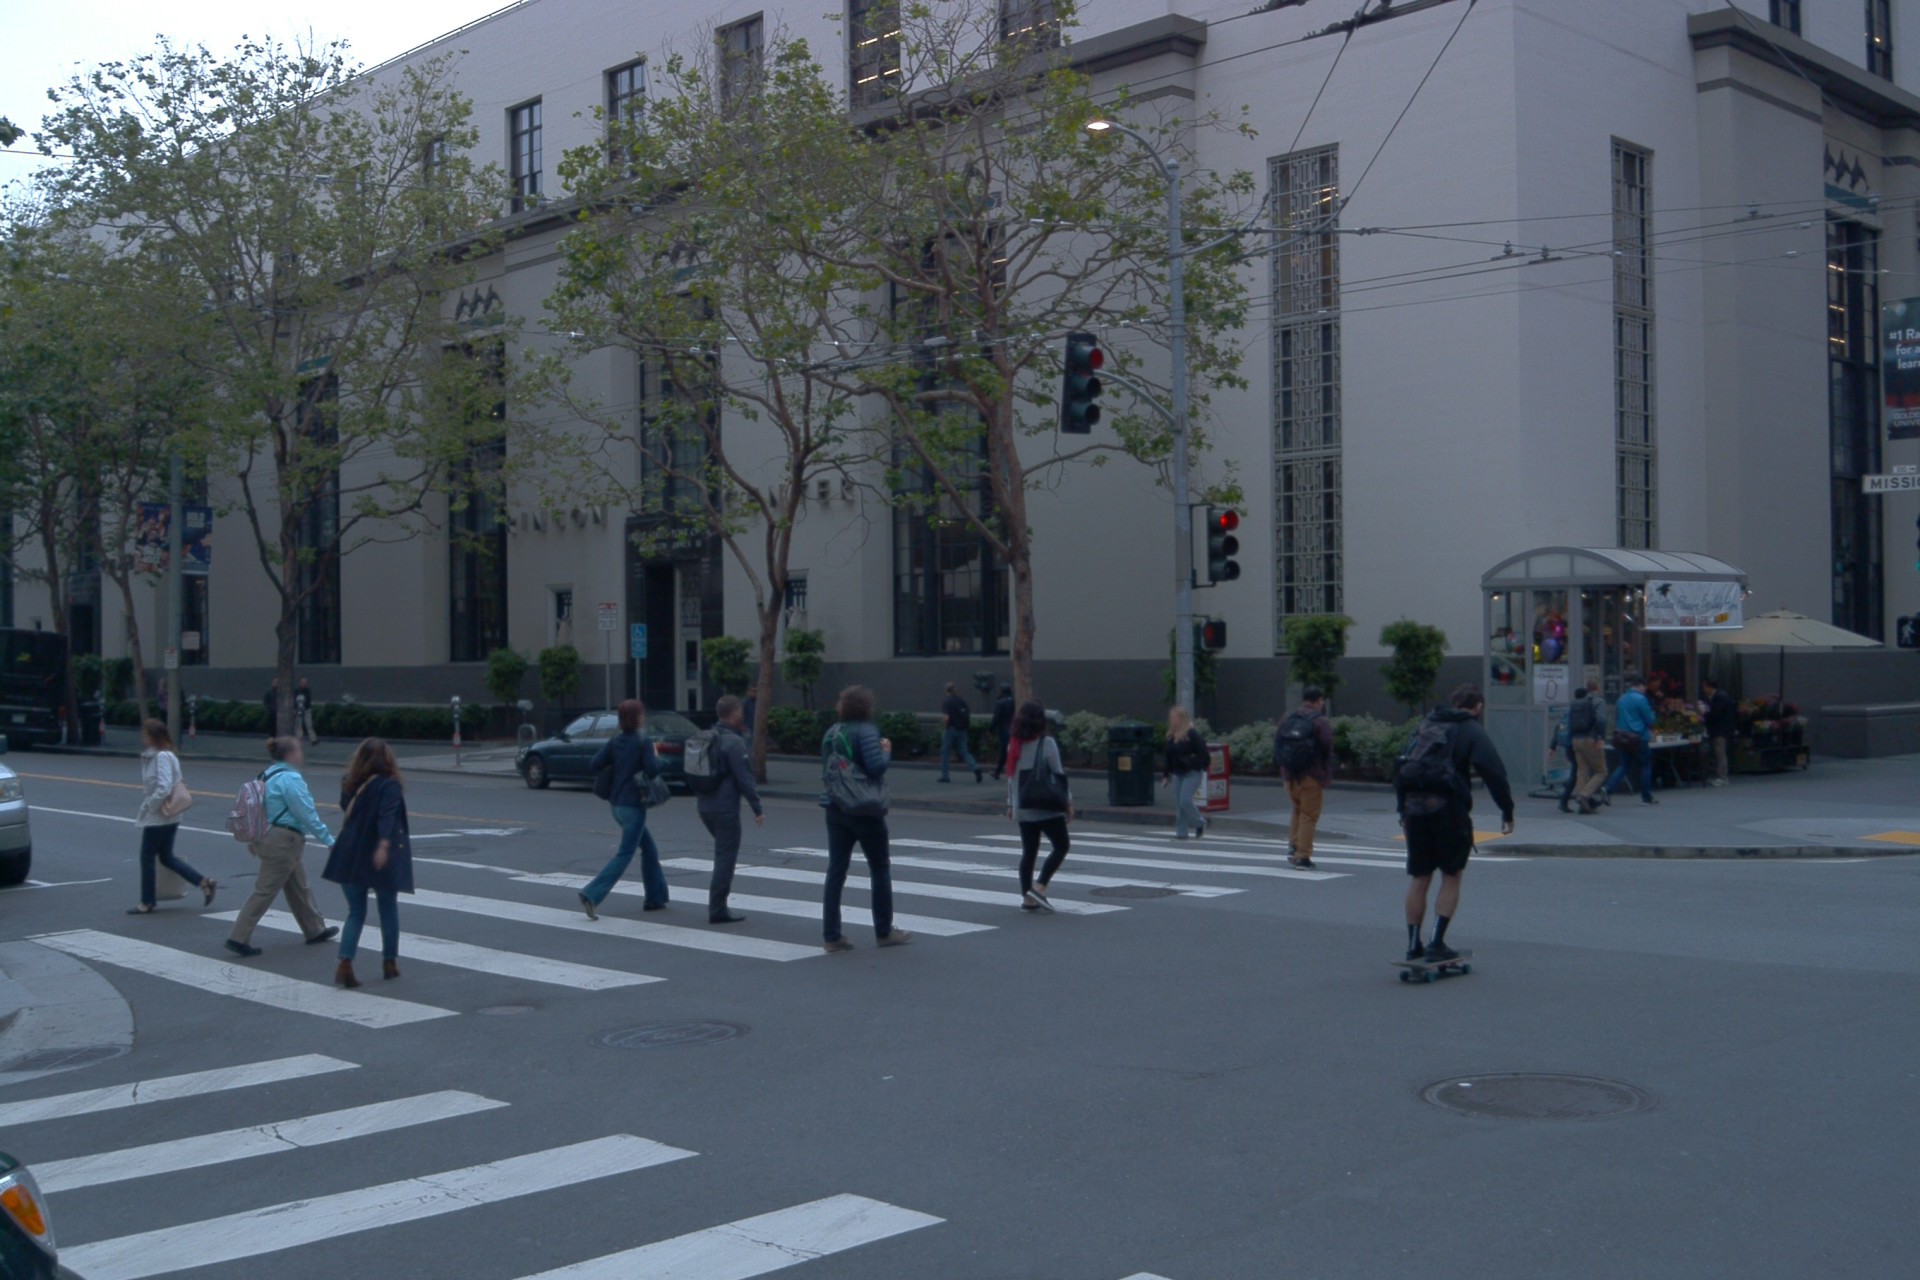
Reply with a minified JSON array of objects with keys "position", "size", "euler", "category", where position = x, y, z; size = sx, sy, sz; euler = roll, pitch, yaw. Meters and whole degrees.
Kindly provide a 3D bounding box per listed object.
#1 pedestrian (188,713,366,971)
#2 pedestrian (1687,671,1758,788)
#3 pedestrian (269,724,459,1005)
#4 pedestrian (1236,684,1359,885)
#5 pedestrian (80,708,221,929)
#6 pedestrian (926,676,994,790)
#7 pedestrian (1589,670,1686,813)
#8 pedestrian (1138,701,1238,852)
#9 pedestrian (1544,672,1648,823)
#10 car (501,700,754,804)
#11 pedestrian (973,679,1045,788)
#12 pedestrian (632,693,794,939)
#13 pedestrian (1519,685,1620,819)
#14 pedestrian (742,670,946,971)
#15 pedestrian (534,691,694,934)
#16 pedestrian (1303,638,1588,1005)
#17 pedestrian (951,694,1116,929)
[{"position":[-5.058,1.457,15.285],"size":[1.013,1.767,0.829],"euler":[-1,1,-39],"category":"pedestrian"},{"position":[11.705,1.357,31.676],"size":[0.751,1.746,0.848],"euler":[1,1,42],"category":"pedestrian"},{"position":[-3.947,1.456,13.721],"size":[0.883,1.741,0.891],"euler":[0,1,12],"category":"pedestrian"},{"position":[3.135,1.315,19.165],"size":[0.716,1.771,0.964],"euler":[1,1,42],"category":"pedestrian"},{"position":[-6.911,1.503,17.651],"size":[0.938,1.800,0.809],"euler":[0,1,-7],"category":"pedestrian"},{"position":[-0.004,1.559,34.839],"size":[0.681,1.856,0.975],"euler":[-1,1,-39],"category":"pedestrian"},{"position":[9.312,1.375,28.362],"size":[0.983,1.896,0.798],"euler":[-1,1,-26],"category":"pedestrian"},{"position":[2.627,1.552,23.809],"size":[0.894,1.646,0.735],"euler":[-1,1,-40],"category":"pedestrian"},{"position":[8.285,1.383,26.901],"size":[1.051,1.896,0.762],"euler":[-1,1,-26],"category":"pedestrian"},{"position":[-5.825,1.878,35.757],"size":[2.016,1.480,4.678],"euler":[-1,1,-44],"category":"car"},{"position":[0.835,1.575,35.093],"size":[0.757,1.796,0.983],"euler":[-1,1,-39],"category":"pedestrian"},{"position":[-1.938,1.346,16.201],"size":[0.942,1.809,0.850],"euler":[-1,1,-43],"category":"pedestrian"},{"position":[8.112,1.467,27.469],"size":[0.974,1.706,0.840],"euler":[0,1,-24],"category":"pedestrian"},{"position":[-0.804,1.214,14.475],"size":[0.842,1.969,1.167],"euler":[1,1,41],"category":"pedestrian"},{"position":[-2.806,1.363,16.766],"size":[0.828,1.856,0.973],"euler":[1,1,44],"category":"pedestrian"},{"position":[3.058,1.058,12.950],"size":[1.097,2.118,1.544],"euler":[1,1,44],"category":"pedestrian"},{"position":[0.584,1.318,16.301],"size":[1.044,1.739,0.795],"euler":[-1,1,-42],"category":"pedestrian"}]
